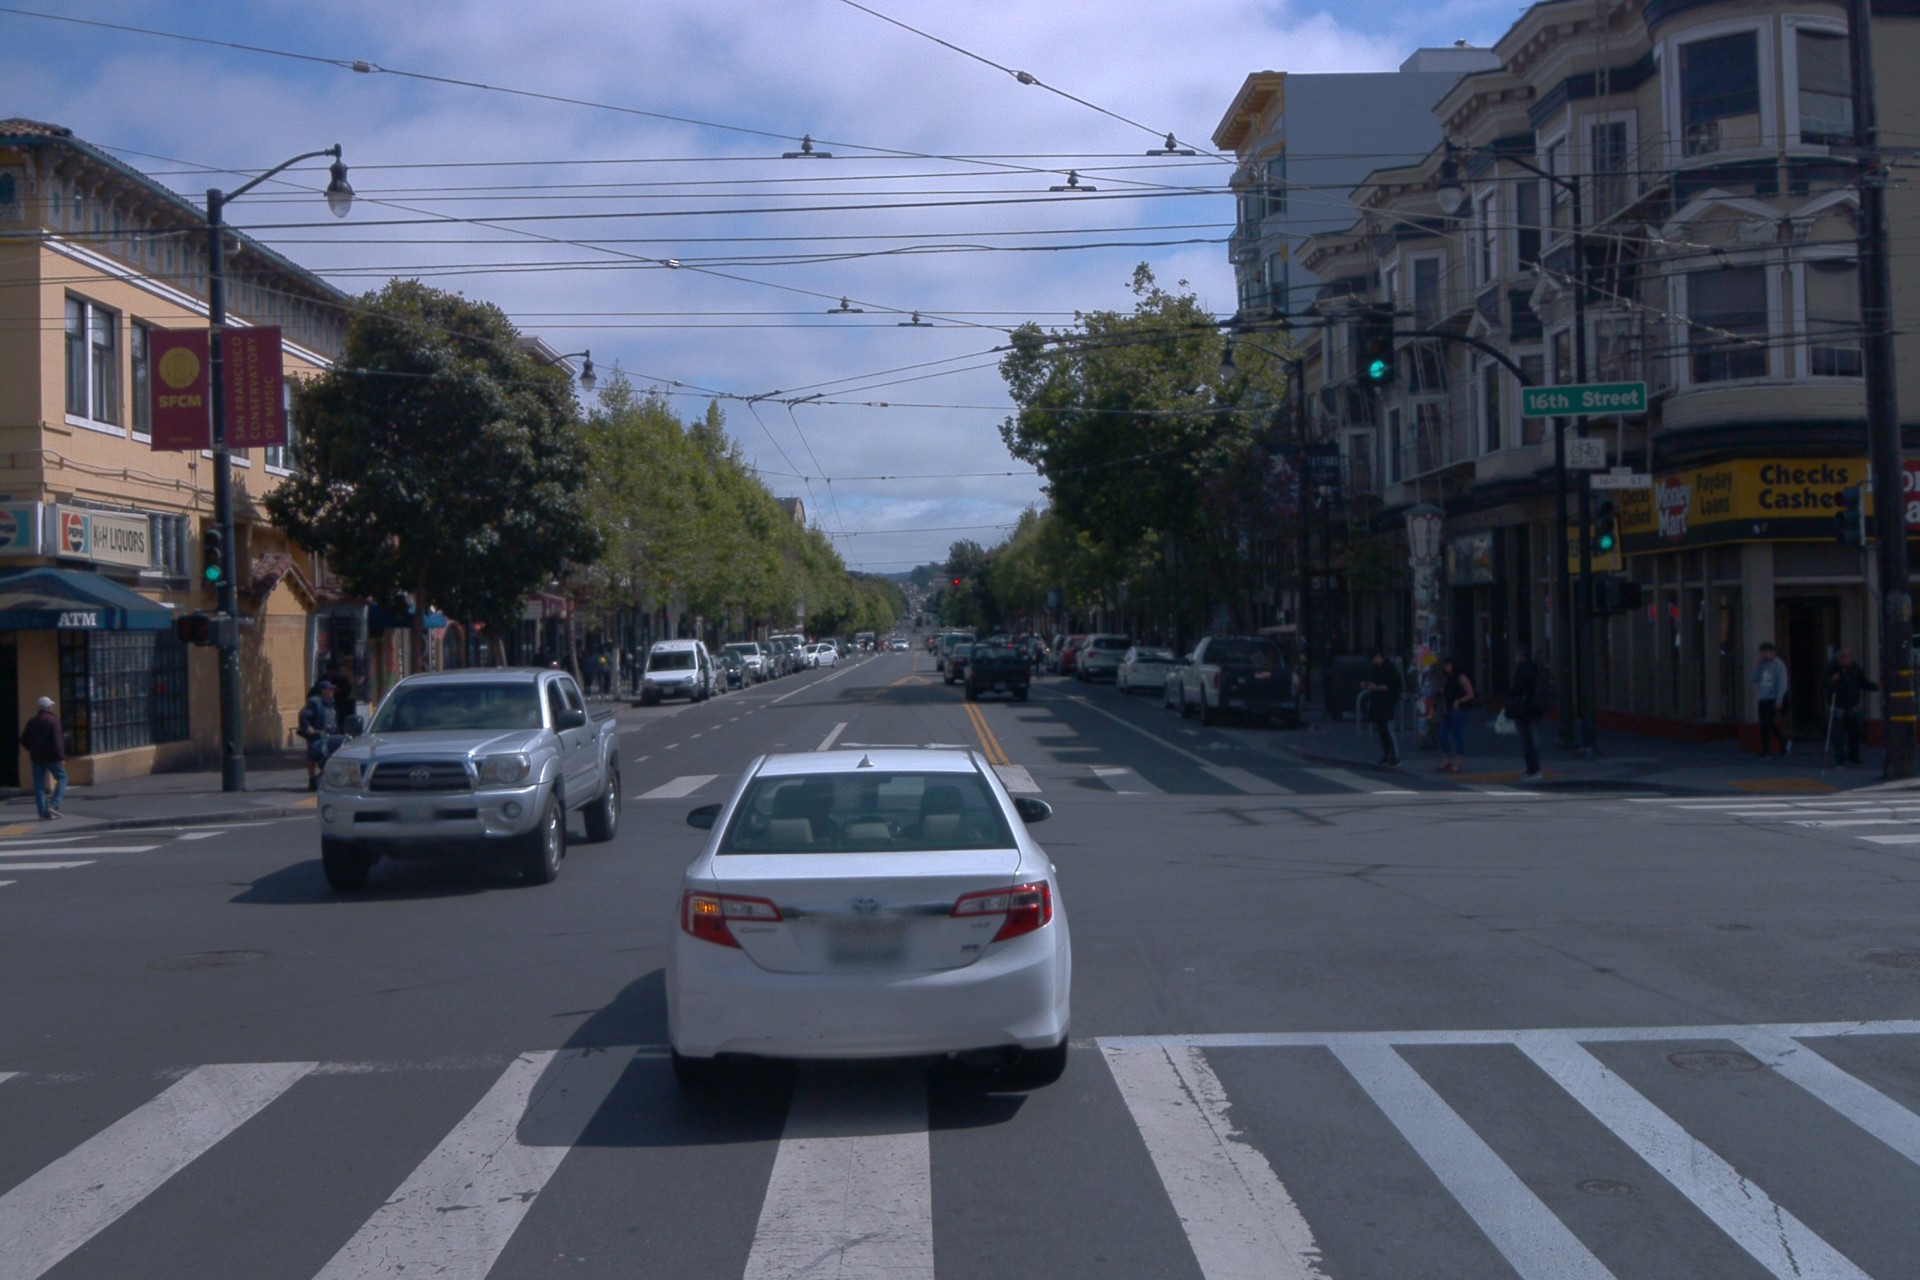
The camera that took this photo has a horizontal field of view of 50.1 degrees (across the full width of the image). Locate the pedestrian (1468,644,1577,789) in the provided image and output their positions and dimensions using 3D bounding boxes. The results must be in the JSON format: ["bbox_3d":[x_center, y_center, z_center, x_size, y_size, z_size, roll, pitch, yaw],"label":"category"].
[{"bbox_3d":[7.732,1.028,28.298,0.932,1.920,1.115,-1,1,-27],"label":"pedestrian"}]

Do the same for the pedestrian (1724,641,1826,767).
[{"bbox_3d":[11.505,0.886,29.037,0.964,1.720,0.917,0,1,-17],"label":"pedestrian"}]

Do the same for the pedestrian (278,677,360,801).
[{"bbox_3d":[-9.612,1.471,30.834,0.827,1.790,0.866,0,1,41],"label":"pedestrian"}]

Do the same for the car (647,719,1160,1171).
[{"bbox_3d":[-0.429,1.314,10.609,2.078,1.570,4.575,0,1,-5],"label":"car"}]

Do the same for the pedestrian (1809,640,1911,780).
[{"bbox_3d":[11.966,0.907,27.378,1.002,1.790,1.326,0,1,13],"label":"pedestrian"}]

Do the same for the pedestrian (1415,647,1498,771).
[{"bbox_3d":[7.182,0.980,29.757,0.927,1.750,0.699,0,1,-19],"label":"pedestrian"}]

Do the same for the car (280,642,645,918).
[{"bbox_3d":[-4.254,1.090,18.536,2.124,2.060,5.211,0,1,-1],"label":"car"}]

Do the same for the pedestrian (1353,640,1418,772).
[{"bbox_3d":[6.313,0.968,30.555,0.766,1.920,0.749,0,1,-4],"label":"pedestrian"}]
